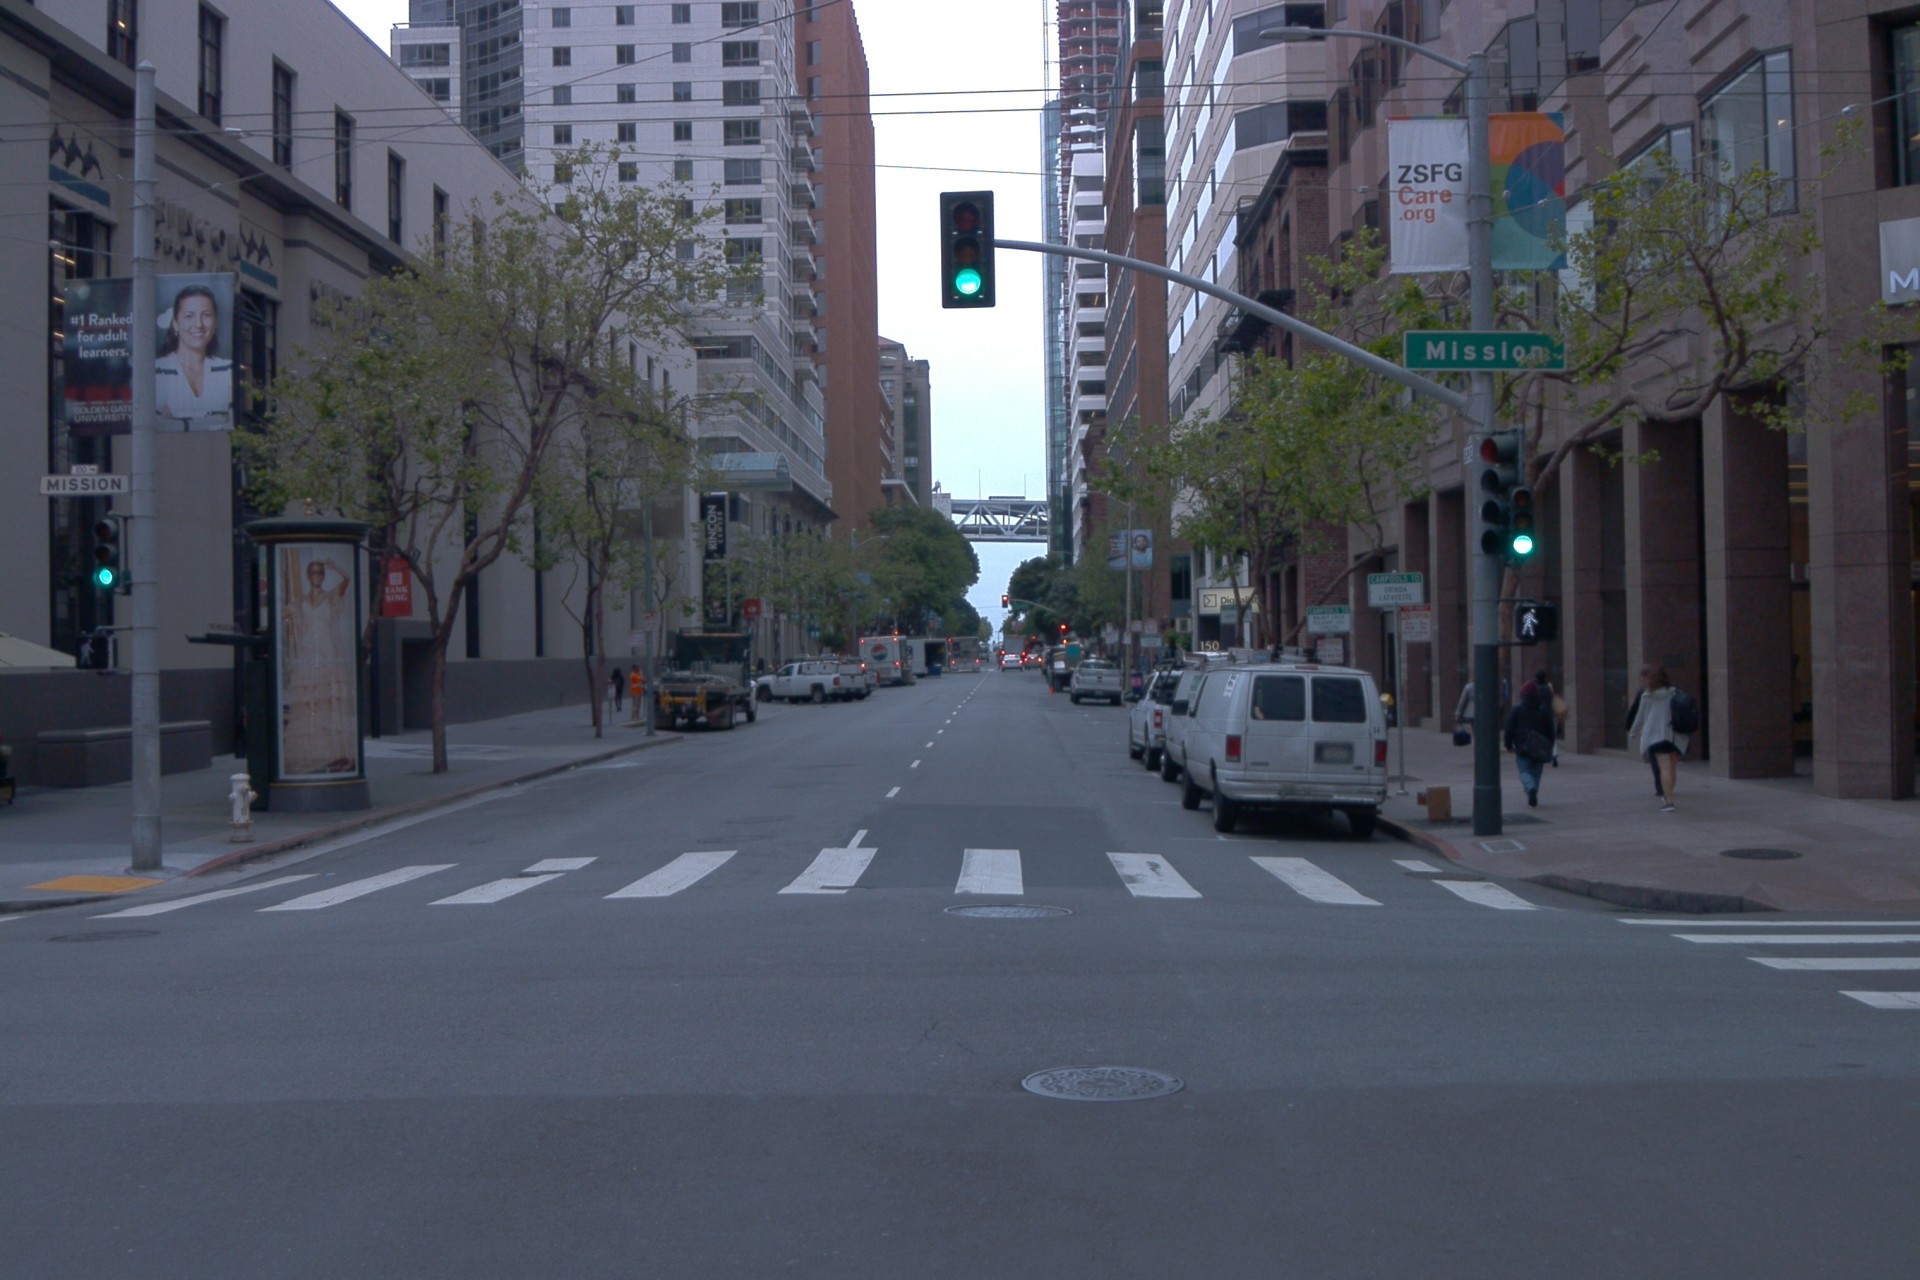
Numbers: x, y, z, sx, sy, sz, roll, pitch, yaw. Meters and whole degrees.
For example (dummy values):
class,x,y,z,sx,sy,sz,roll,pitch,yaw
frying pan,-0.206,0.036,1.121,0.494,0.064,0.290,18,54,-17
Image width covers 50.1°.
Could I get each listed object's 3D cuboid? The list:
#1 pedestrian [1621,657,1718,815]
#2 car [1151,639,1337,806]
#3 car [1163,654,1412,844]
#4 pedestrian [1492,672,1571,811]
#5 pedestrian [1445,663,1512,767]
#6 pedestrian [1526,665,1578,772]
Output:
class,x,y,z,sx,sy,sz,roll,pitch,yaw
pedestrian,8.570,1.142,24.862,0.843,1.856,0.961,0,1,1
car,4.443,1.220,33.055,2.274,2.380,5.494,0,1,1
car,4.106,1.292,26.787,2.314,2.100,5.500,0,1,0
pedestrian,7.297,1.279,26.272,0.757,1.713,0.969,0,1,2
pedestrian,8.694,1.248,34.475,0.919,1.696,0.981,0,1,4
pedestrian,9.453,1.239,32.850,0.668,1.666,0.852,0,1,7
